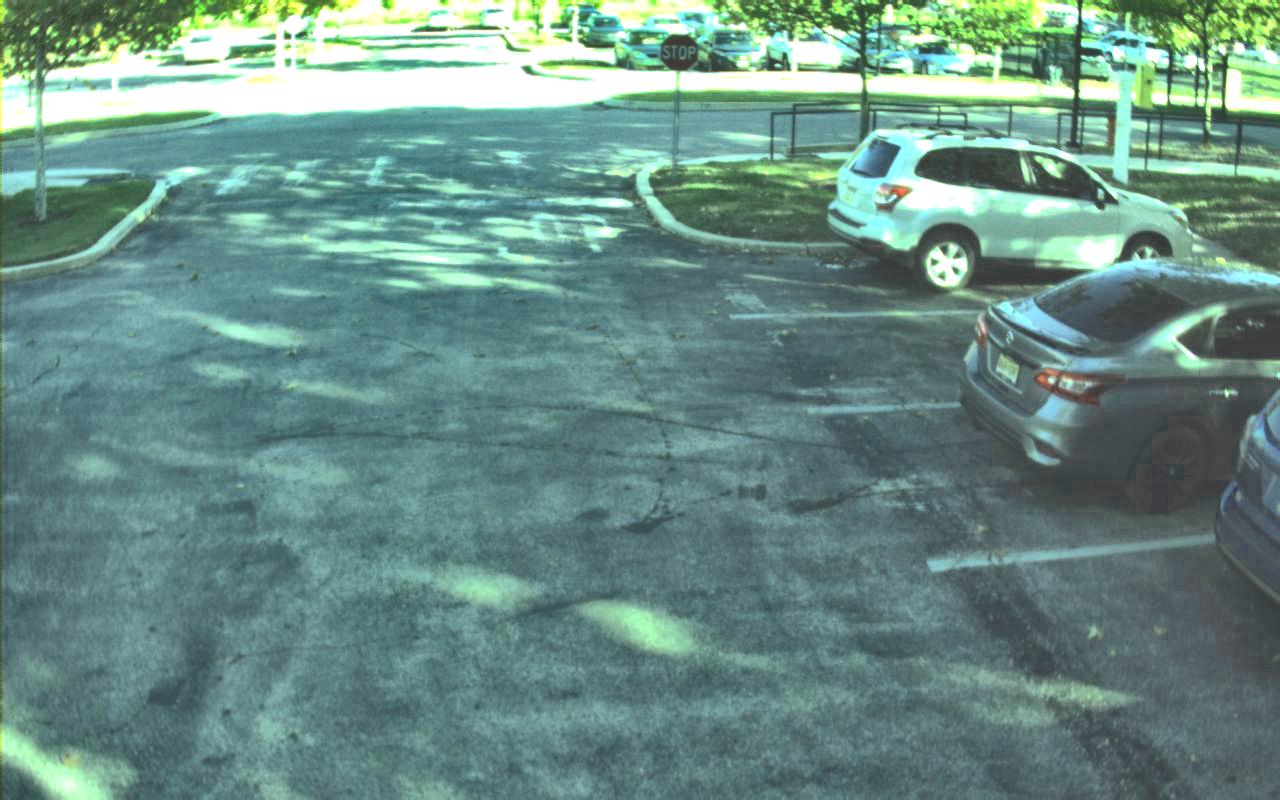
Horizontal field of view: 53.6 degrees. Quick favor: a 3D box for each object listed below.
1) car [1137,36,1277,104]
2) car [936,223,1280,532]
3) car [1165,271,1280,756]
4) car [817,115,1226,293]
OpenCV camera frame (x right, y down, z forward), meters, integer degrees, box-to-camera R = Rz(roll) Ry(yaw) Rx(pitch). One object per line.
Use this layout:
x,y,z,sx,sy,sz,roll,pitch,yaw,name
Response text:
17.795,-10.312,35.378,1.994,1.740,4.613,-7,18,-20,car
4.531,-0.352,8.418,4.459,1.562,1.933,-4,16,-9,car
5.331,0.401,5.859,4.424,1.706,1.964,-4,17,-11,car
4.484,-2.357,14.044,4.561,1.704,1.978,-4,16,-9,car
